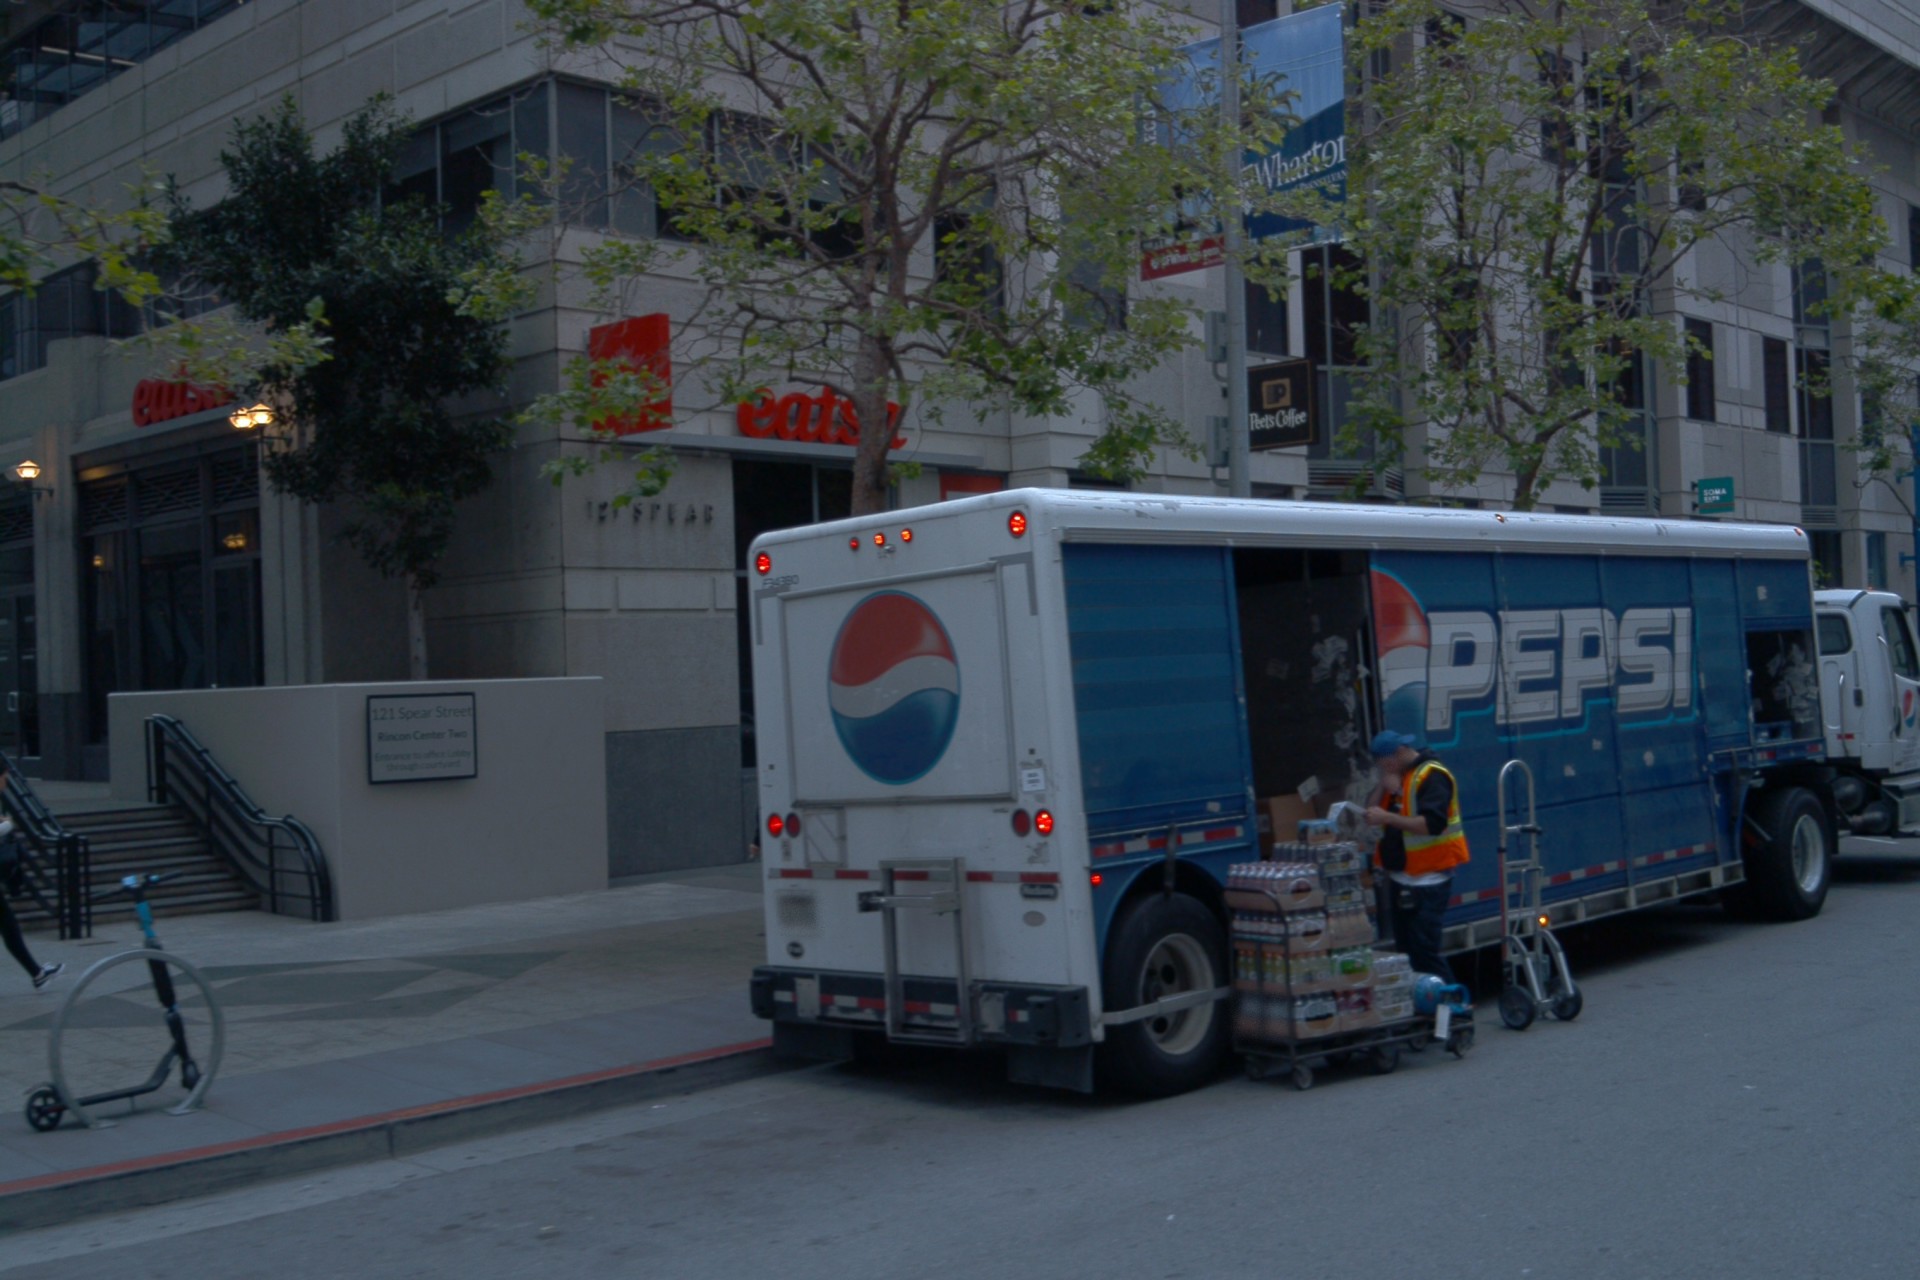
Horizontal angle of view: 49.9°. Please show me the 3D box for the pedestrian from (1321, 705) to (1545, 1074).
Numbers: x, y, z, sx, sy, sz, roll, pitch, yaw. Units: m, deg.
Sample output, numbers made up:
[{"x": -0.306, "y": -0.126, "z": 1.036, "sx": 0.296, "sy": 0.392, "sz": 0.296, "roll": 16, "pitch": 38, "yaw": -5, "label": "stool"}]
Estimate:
[{"x": 2.558, "y": 1.310, "z": 11.251, "sx": 0.834, "sy": 1.860, "sz": 0.984, "roll": 0, "pitch": 1, "yaw": -14, "label": "pedestrian"}]

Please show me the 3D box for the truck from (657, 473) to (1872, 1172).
[{"x": 2.754, "y": 0.756, "z": 13.680, "sx": 2.737, "sy": 3.140, "sz": 9.716, "roll": 1, "pitch": 1, "yaw": 45, "label": "truck"}]
